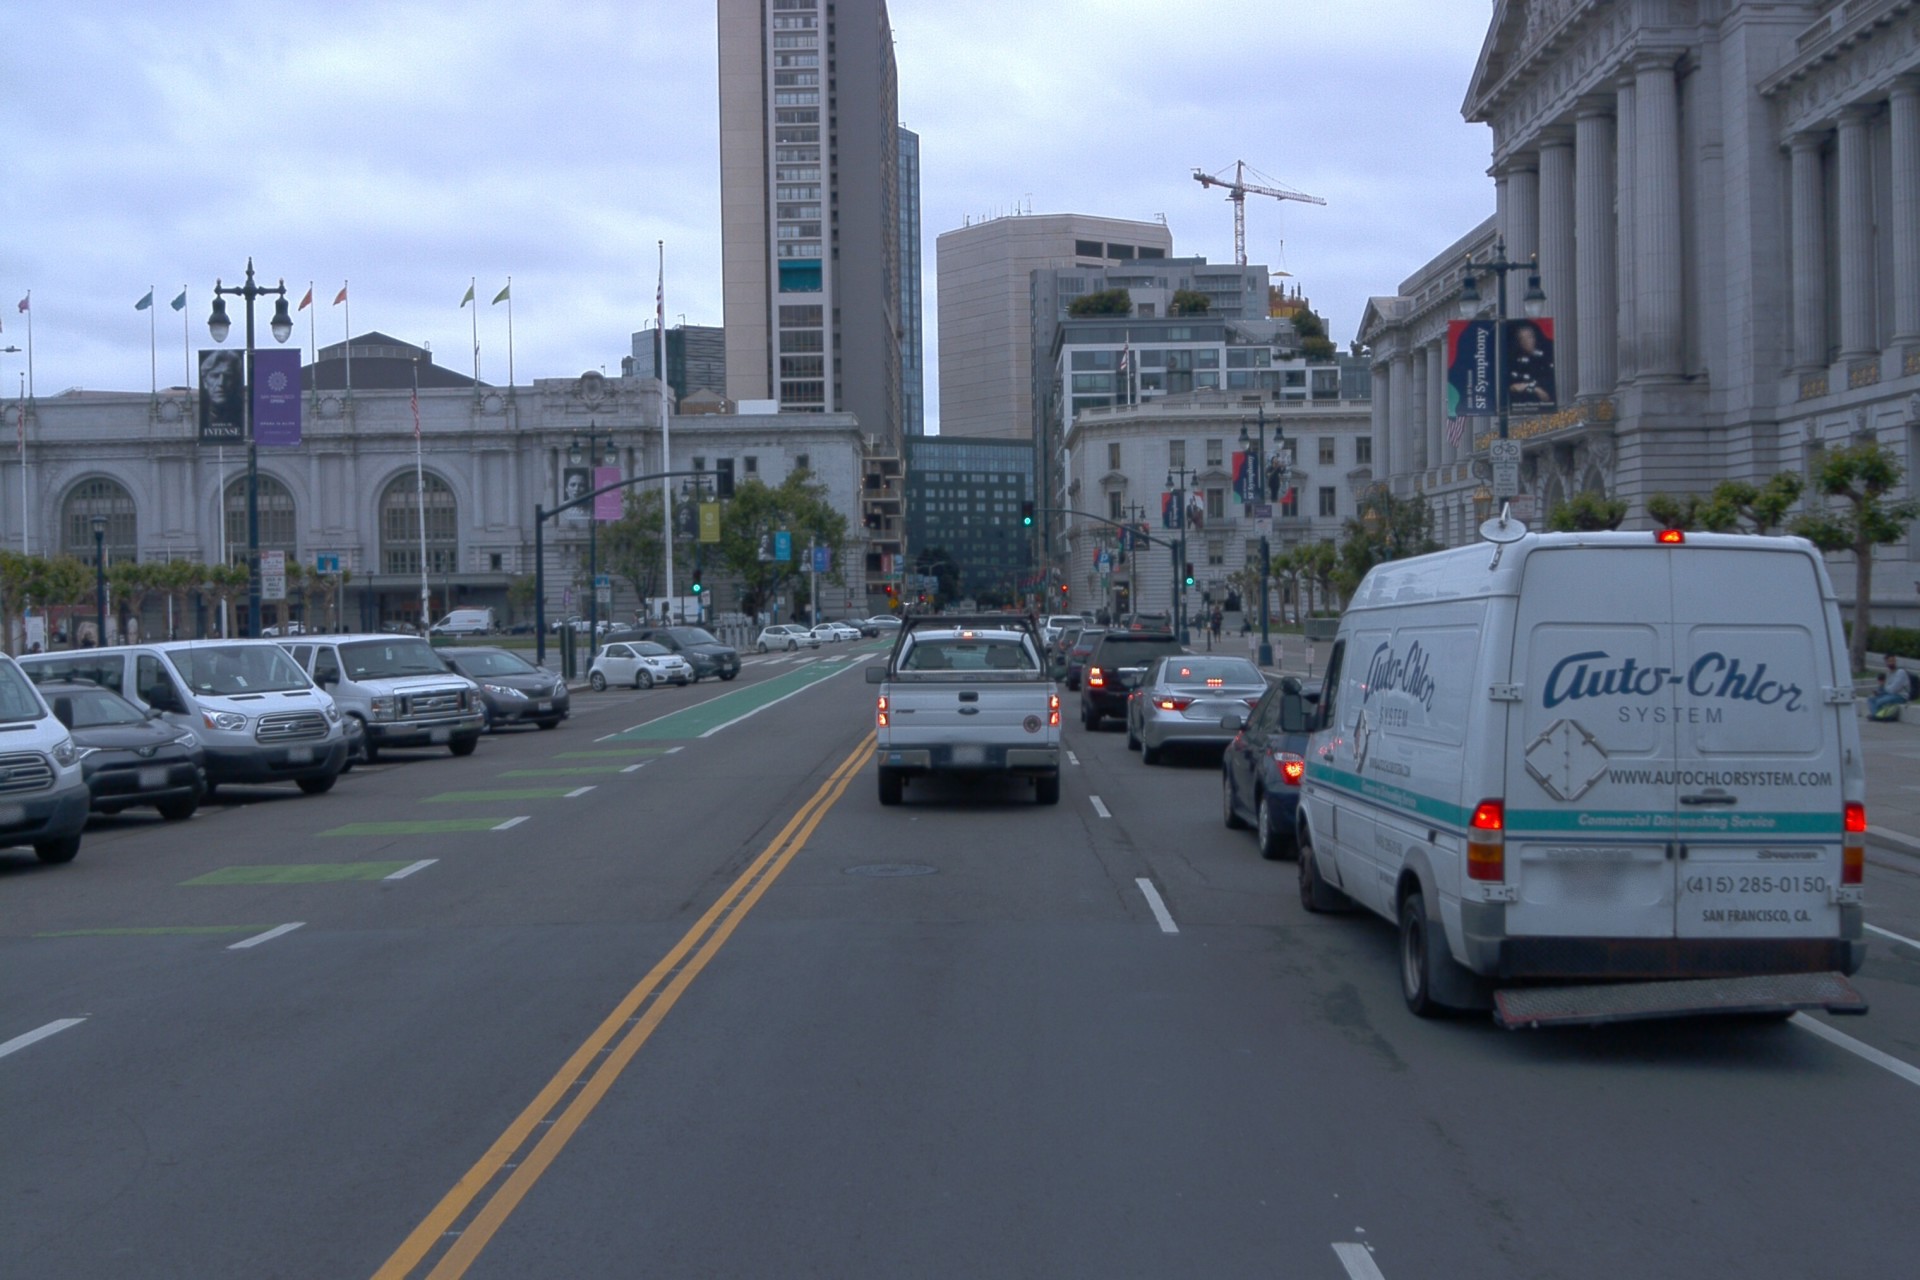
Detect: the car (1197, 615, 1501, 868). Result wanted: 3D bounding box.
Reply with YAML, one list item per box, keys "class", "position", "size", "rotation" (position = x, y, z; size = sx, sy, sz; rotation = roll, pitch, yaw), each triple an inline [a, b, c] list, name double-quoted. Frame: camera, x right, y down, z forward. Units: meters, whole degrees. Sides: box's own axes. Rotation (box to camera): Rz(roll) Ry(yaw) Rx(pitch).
- class: "car"
  position: [3.323, 0.783, 18.348]
  size: [1.934, 1.990, 4.031]
  rotation: [0, 1, 0]

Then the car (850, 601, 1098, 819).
- class: "car"
  position: [0.107, 0.667, 23.451]
  size: [2.502, 2.200, 5.178]
  rotation: [0, 1, -1]

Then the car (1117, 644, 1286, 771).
- class: "car"
  position: [3.282, 0.875, 28.752]
  size: [1.959, 1.550, 4.574]
  rotation: [0, 1, 2]

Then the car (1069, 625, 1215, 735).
- class: "car"
  position: [3.128, 0.639, 36.376]
  size: [2.248, 1.750, 5.254]
  rotation: [0, 1, 2]

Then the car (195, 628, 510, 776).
- class: "car"
  position: [-10.216, 0.921, 34.228]
  size: [2.406, 2.204, 6.135]
  rotation: [-1, 1, -44]
